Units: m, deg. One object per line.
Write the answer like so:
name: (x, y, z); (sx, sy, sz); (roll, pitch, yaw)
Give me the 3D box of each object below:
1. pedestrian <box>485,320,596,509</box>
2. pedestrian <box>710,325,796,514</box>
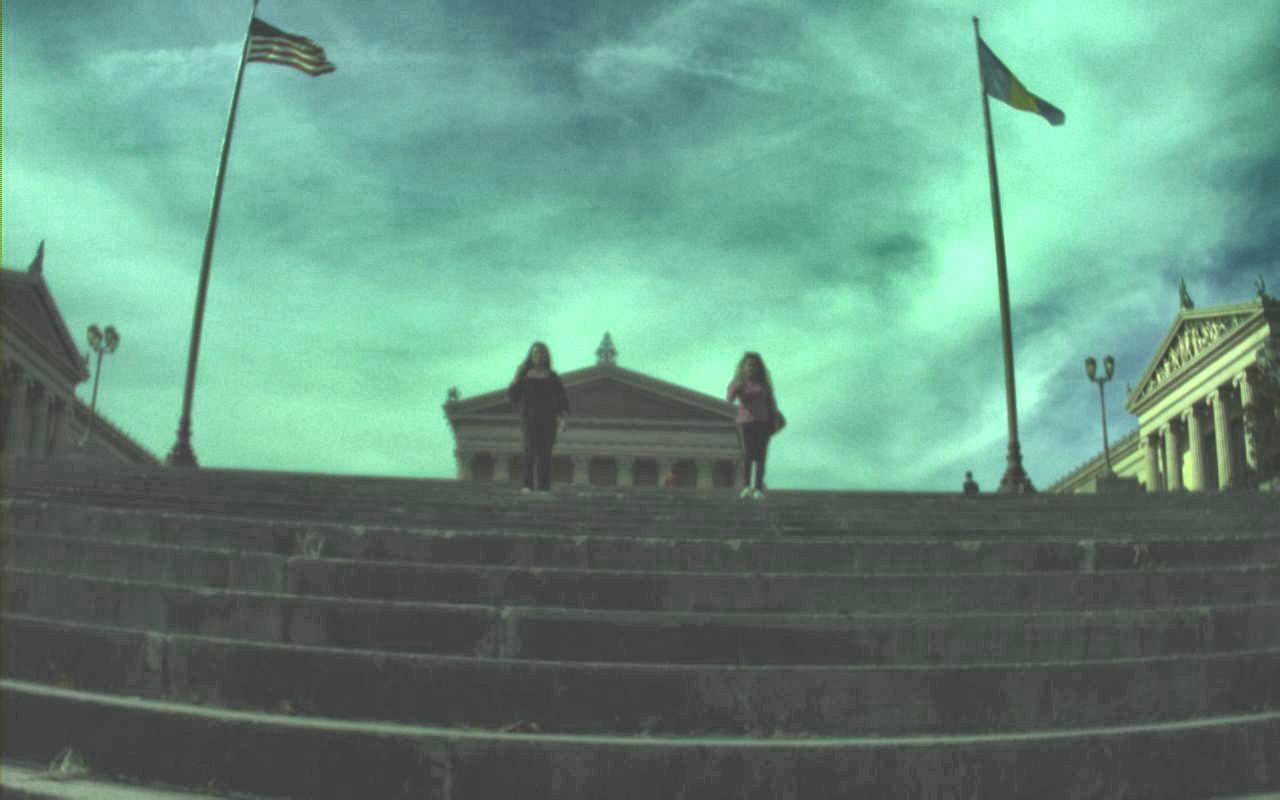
pedestrian: (-1.008, 0.129, 12.782); (0.833, 1.847, 0.856); (1, 0, 21)
pedestrian: (1.112, 0.180, 12.504); (0.809, 1.806, 0.846); (0, 0, 4)
